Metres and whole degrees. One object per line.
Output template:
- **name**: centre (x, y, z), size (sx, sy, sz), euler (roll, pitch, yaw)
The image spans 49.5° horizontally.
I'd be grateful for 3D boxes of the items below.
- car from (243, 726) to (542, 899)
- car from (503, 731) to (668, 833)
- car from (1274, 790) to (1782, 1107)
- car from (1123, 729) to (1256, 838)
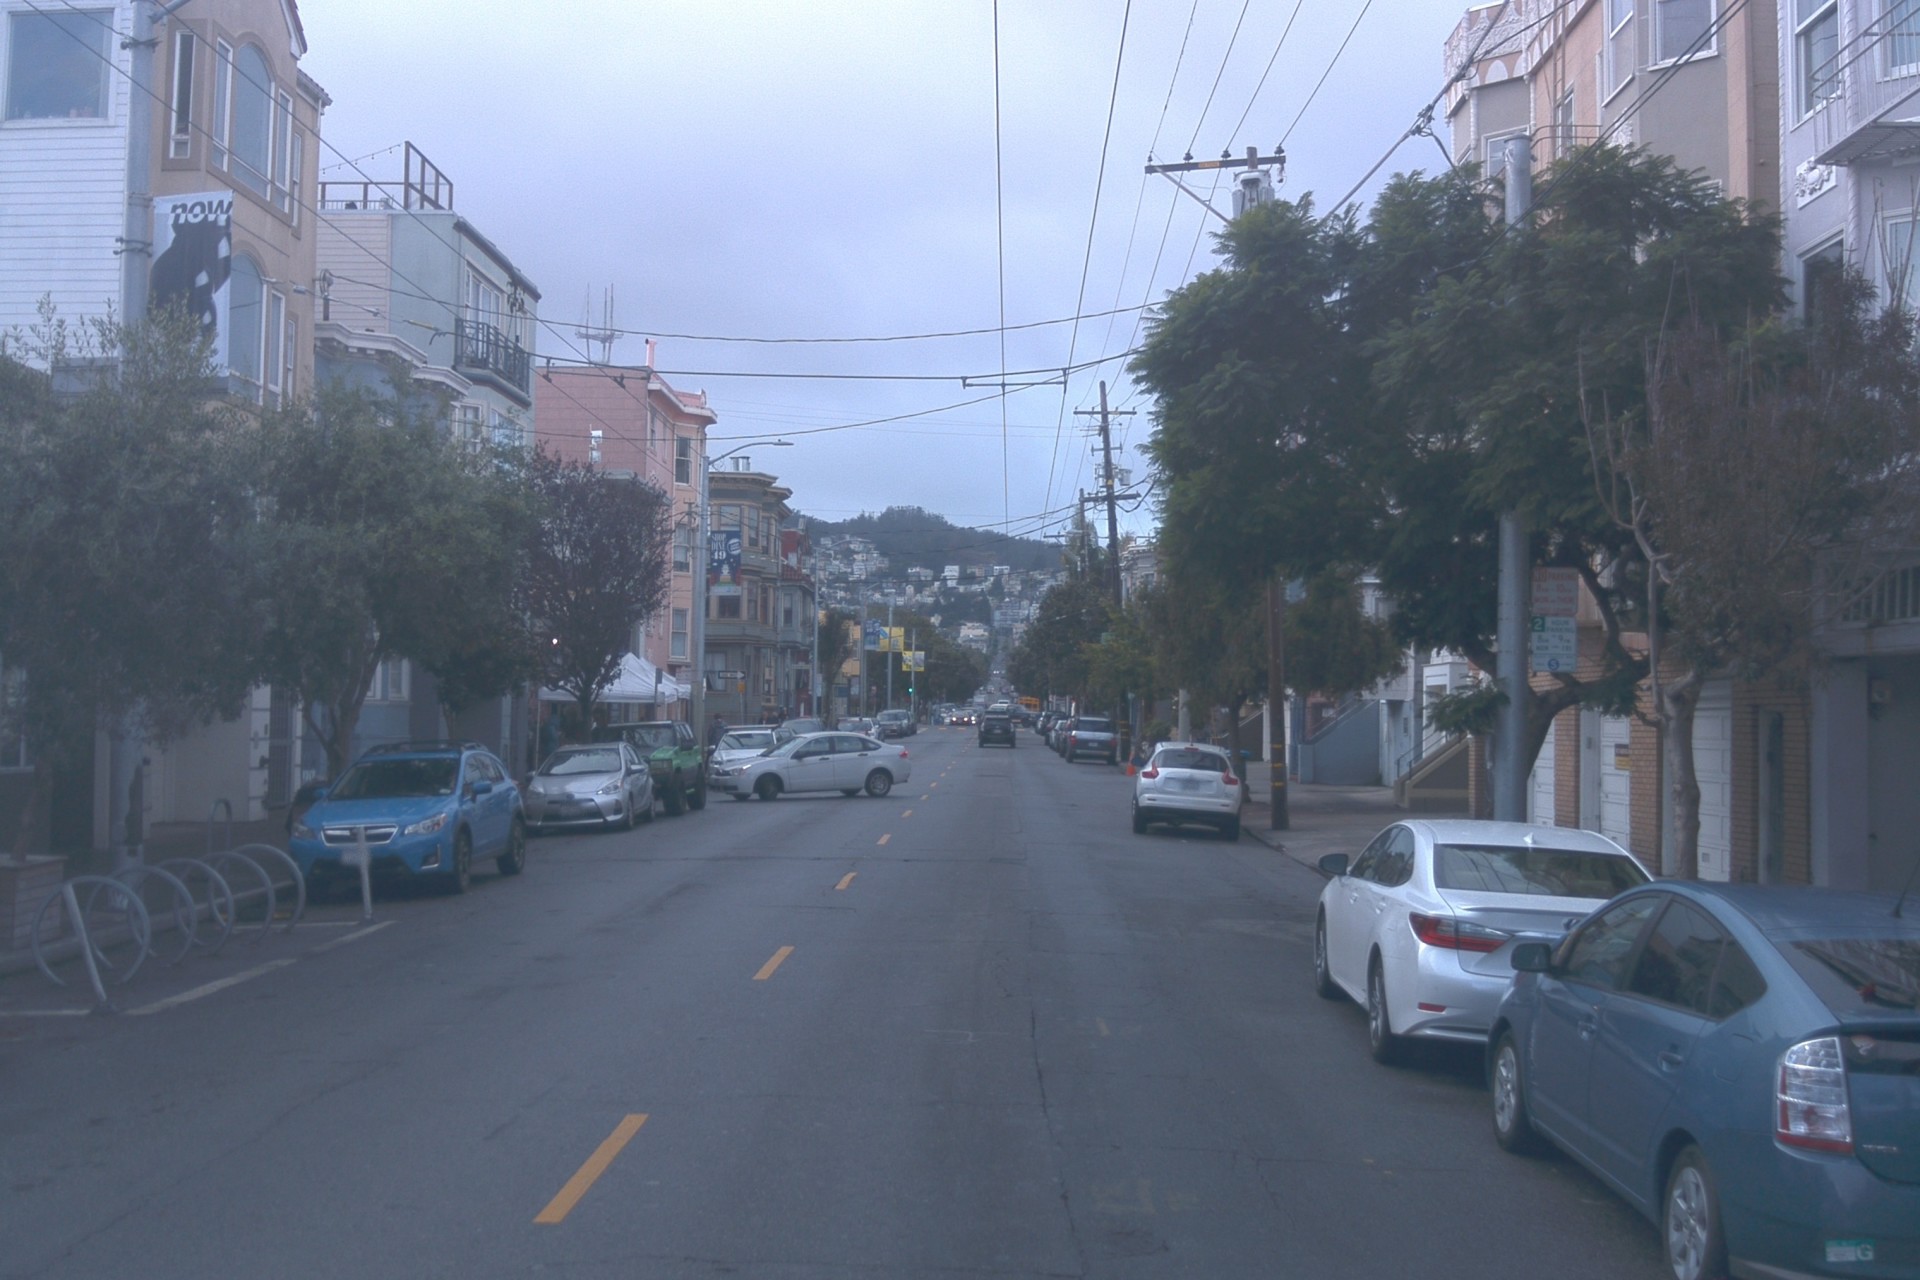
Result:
- **car**: centre (-6.217, 1.845, 23.398), size (2.059, 1.660, 4.380), euler (1, -2, 1)
- **car**: centre (-6.197, 2.329, 34.938), size (1.991, 1.500, 4.028), euler (1, -2, 0)
- **car**: centre (3.461, 1.856, 13.807), size (2.162, 1.460, 4.919), euler (1, -2, 2)
- **car**: centre (3.859, 2.404, 35.703), size (2.028, 1.650, 4.143), euler (1, -2, 3)
